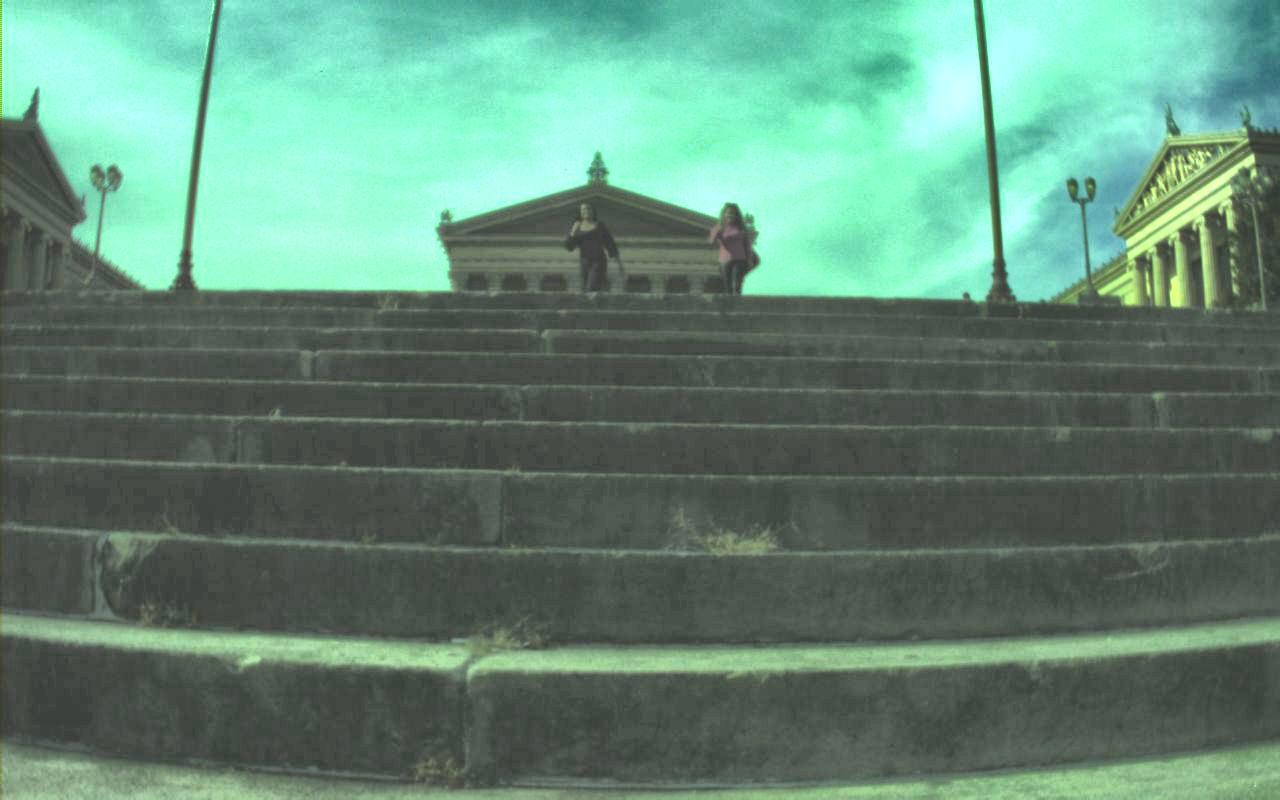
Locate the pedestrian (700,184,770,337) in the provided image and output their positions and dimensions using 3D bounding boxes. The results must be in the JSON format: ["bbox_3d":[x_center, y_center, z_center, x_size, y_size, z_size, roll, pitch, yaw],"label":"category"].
[{"bbox_3d":[1.126,-1.635,15.000,0.802,1.758,0.829,0,0,3],"label":"pedestrian"}]

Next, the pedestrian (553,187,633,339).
[{"bbox_3d":[-0.572,-1.667,15.552,0.801,1.811,0.828,0,0,11],"label":"pedestrian"}]
